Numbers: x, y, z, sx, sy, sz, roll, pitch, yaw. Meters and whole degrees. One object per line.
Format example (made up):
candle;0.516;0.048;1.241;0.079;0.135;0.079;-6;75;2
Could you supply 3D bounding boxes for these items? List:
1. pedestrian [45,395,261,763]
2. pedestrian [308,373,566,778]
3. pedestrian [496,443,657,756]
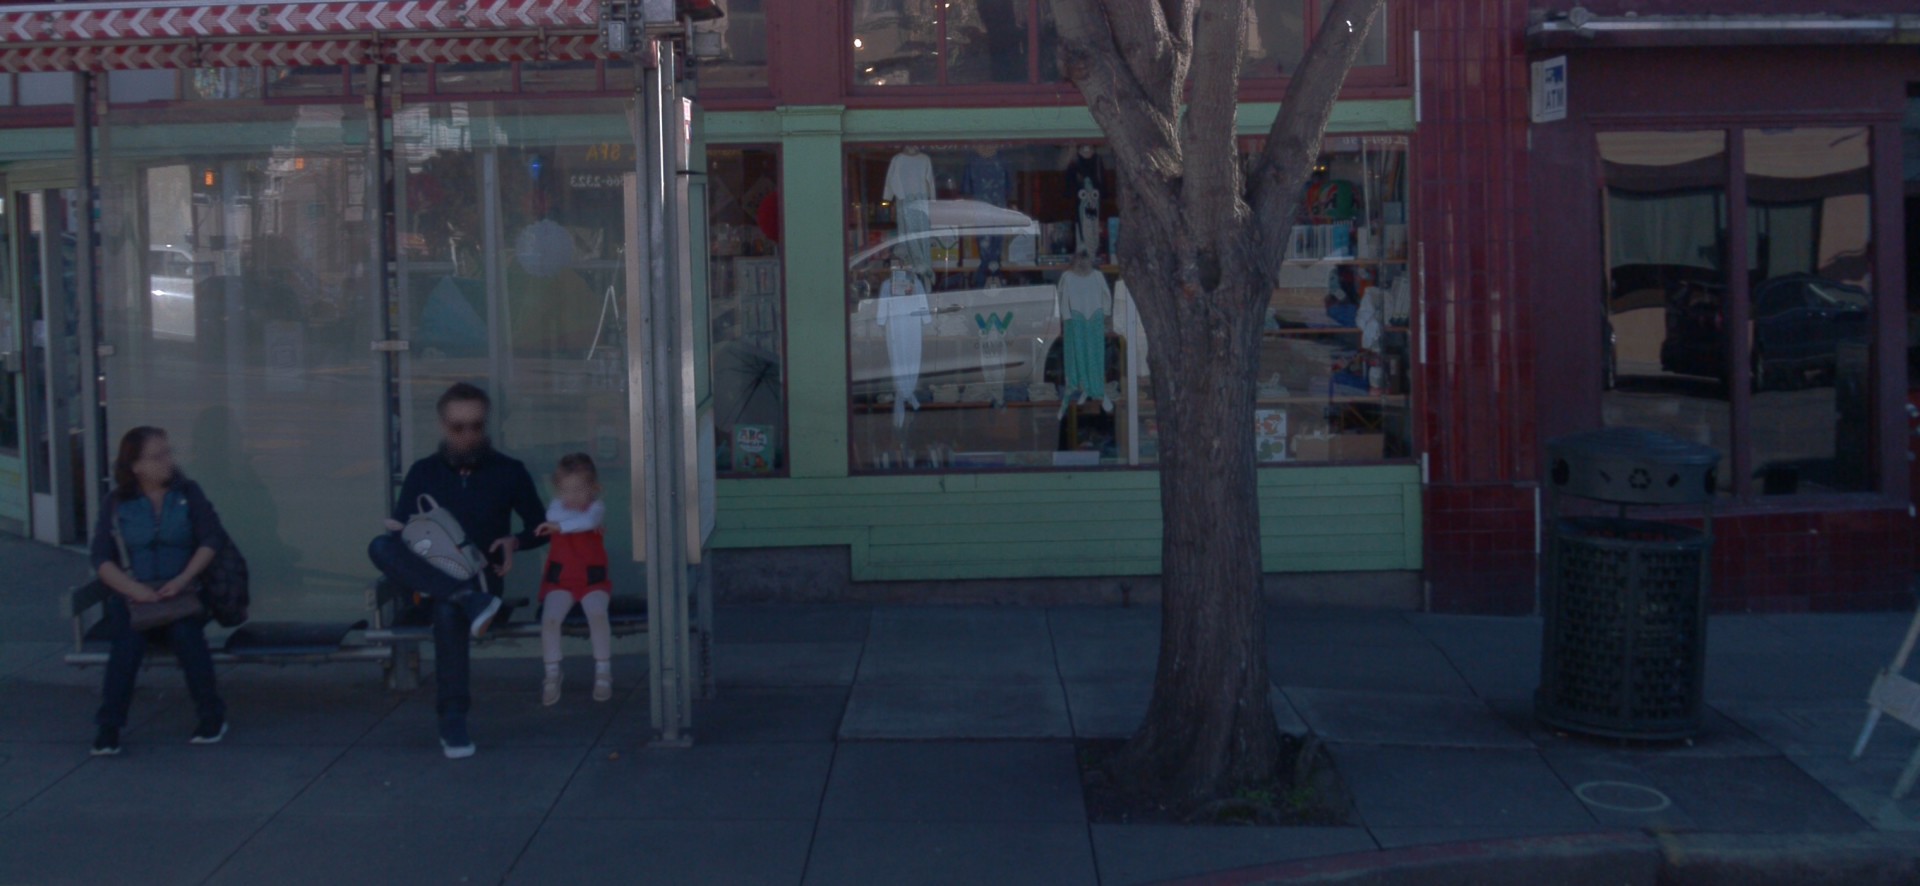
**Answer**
pedestrian;-3.127;0.489;8.060;0.737;1.258;0.794;-1;2;-19
pedestrian;-1.989;0.467;7.974;0.753;1.398;0.926;0;2;0
pedestrian;-1.470;0.582;7.987;0.528;1.098;0.572;0;2;-3
